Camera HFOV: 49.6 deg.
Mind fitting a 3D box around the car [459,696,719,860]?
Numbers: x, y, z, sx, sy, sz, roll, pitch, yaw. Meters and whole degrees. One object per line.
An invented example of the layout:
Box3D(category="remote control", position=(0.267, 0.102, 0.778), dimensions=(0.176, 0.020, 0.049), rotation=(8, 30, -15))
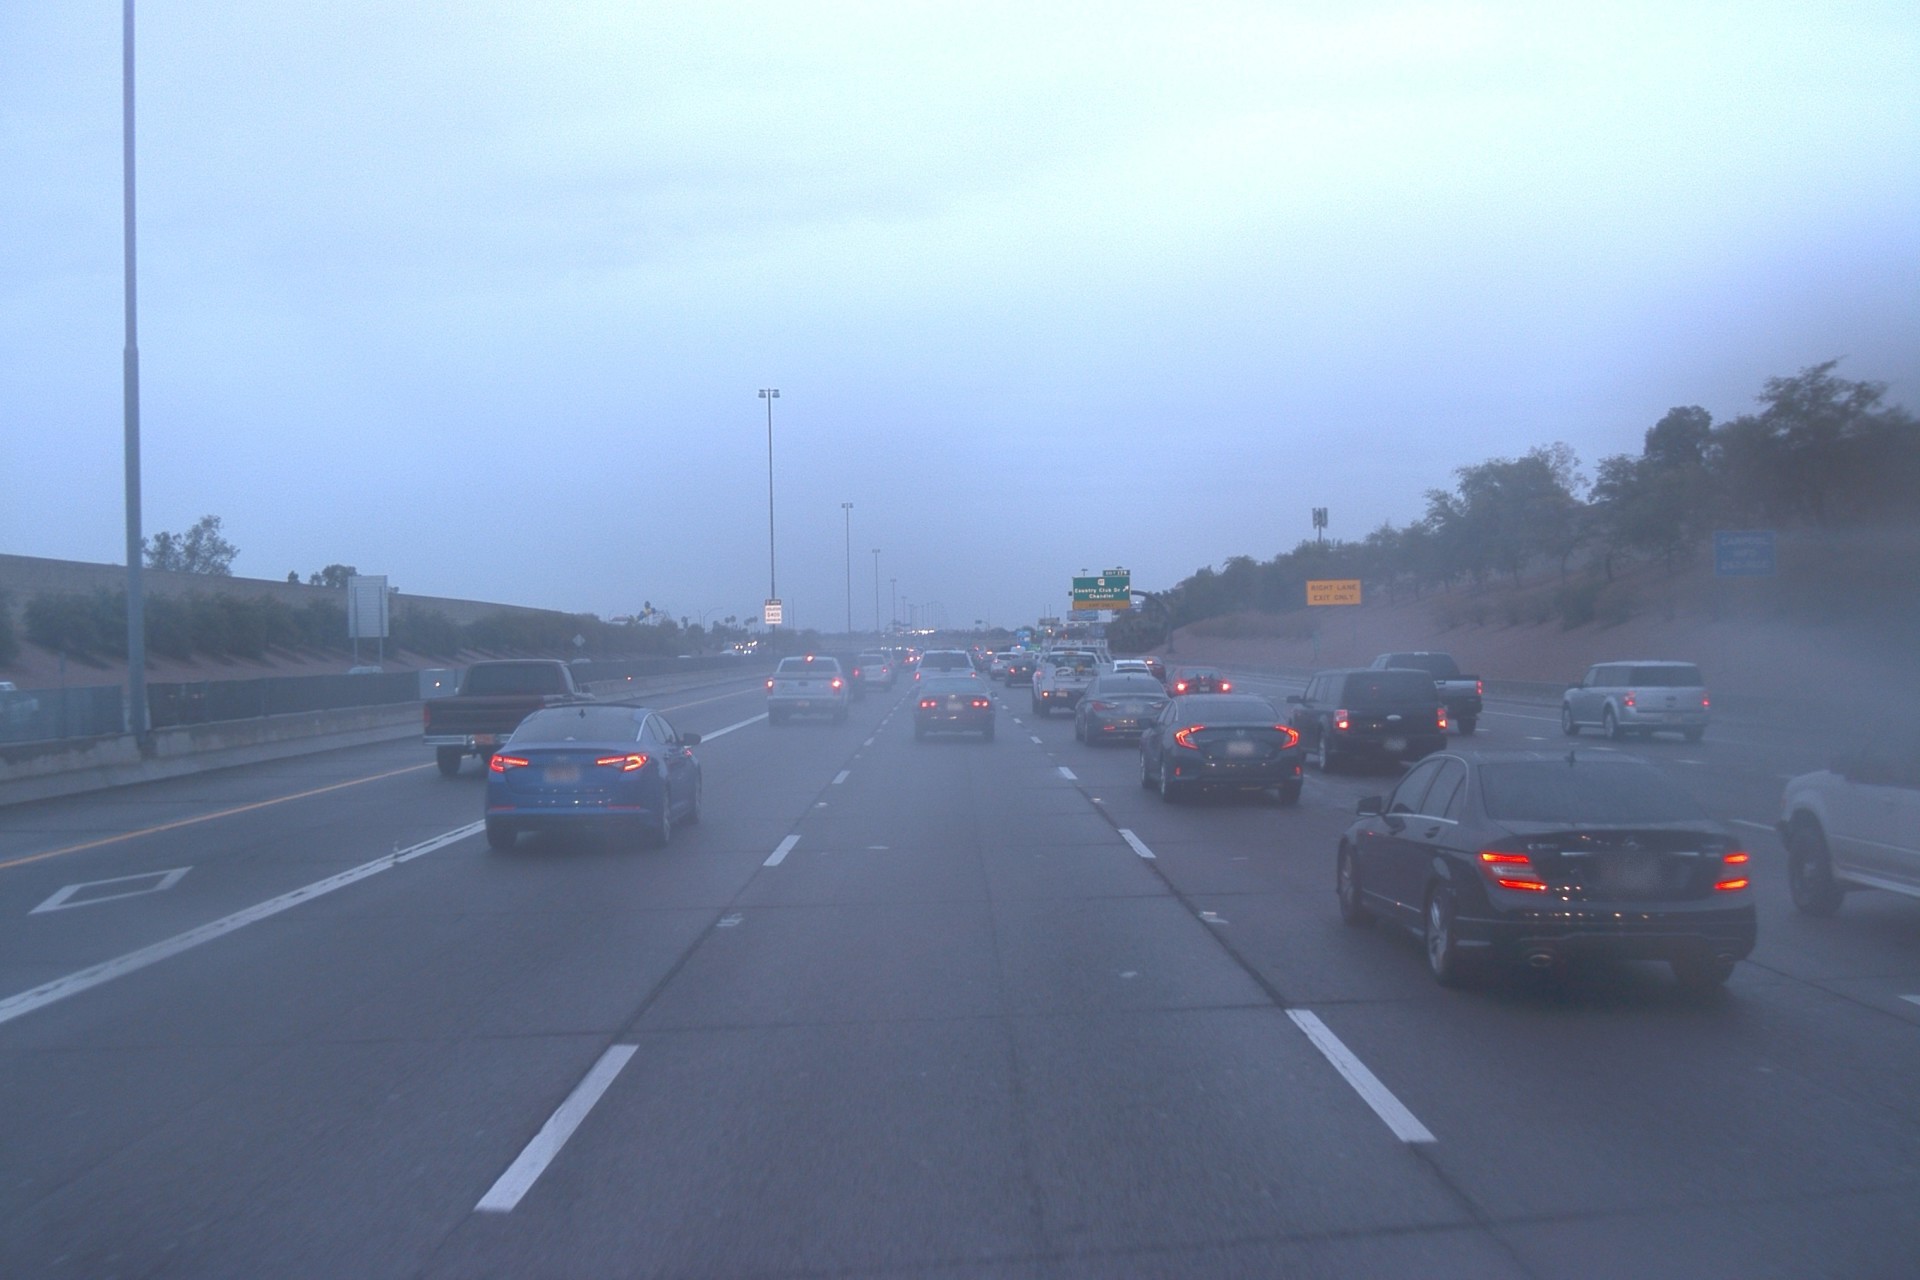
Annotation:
Box3D(category="car", position=(-3.905, 1.418, 22.647), dimensions=(1.988, 1.510, 4.517), rotation=(0, 0, 1))

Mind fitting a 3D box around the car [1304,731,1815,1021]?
Box3D(category="car", position=(3.678, 1.402, 13.718), dimensions=(2.000, 1.420, 4.584), rotation=(0, 0, -1))

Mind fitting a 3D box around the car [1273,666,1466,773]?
Box3D(category="car", position=(6.722, 1.261, 34.636), dimensions=(2.228, 1.630, 4.896), rotation=(0, 0, 0))

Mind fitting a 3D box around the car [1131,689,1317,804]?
Box3D(category="car", position=(3.518, 1.404, 28.462), dimensions=(1.973, 1.380, 4.335), rotation=(0, 0, 0))

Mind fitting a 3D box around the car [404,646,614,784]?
Box3D(category="car", position=(-7.443, 1.184, 34.867), dimensions=(2.390, 2.140, 5.303), rotation=(0, 0, 0))
